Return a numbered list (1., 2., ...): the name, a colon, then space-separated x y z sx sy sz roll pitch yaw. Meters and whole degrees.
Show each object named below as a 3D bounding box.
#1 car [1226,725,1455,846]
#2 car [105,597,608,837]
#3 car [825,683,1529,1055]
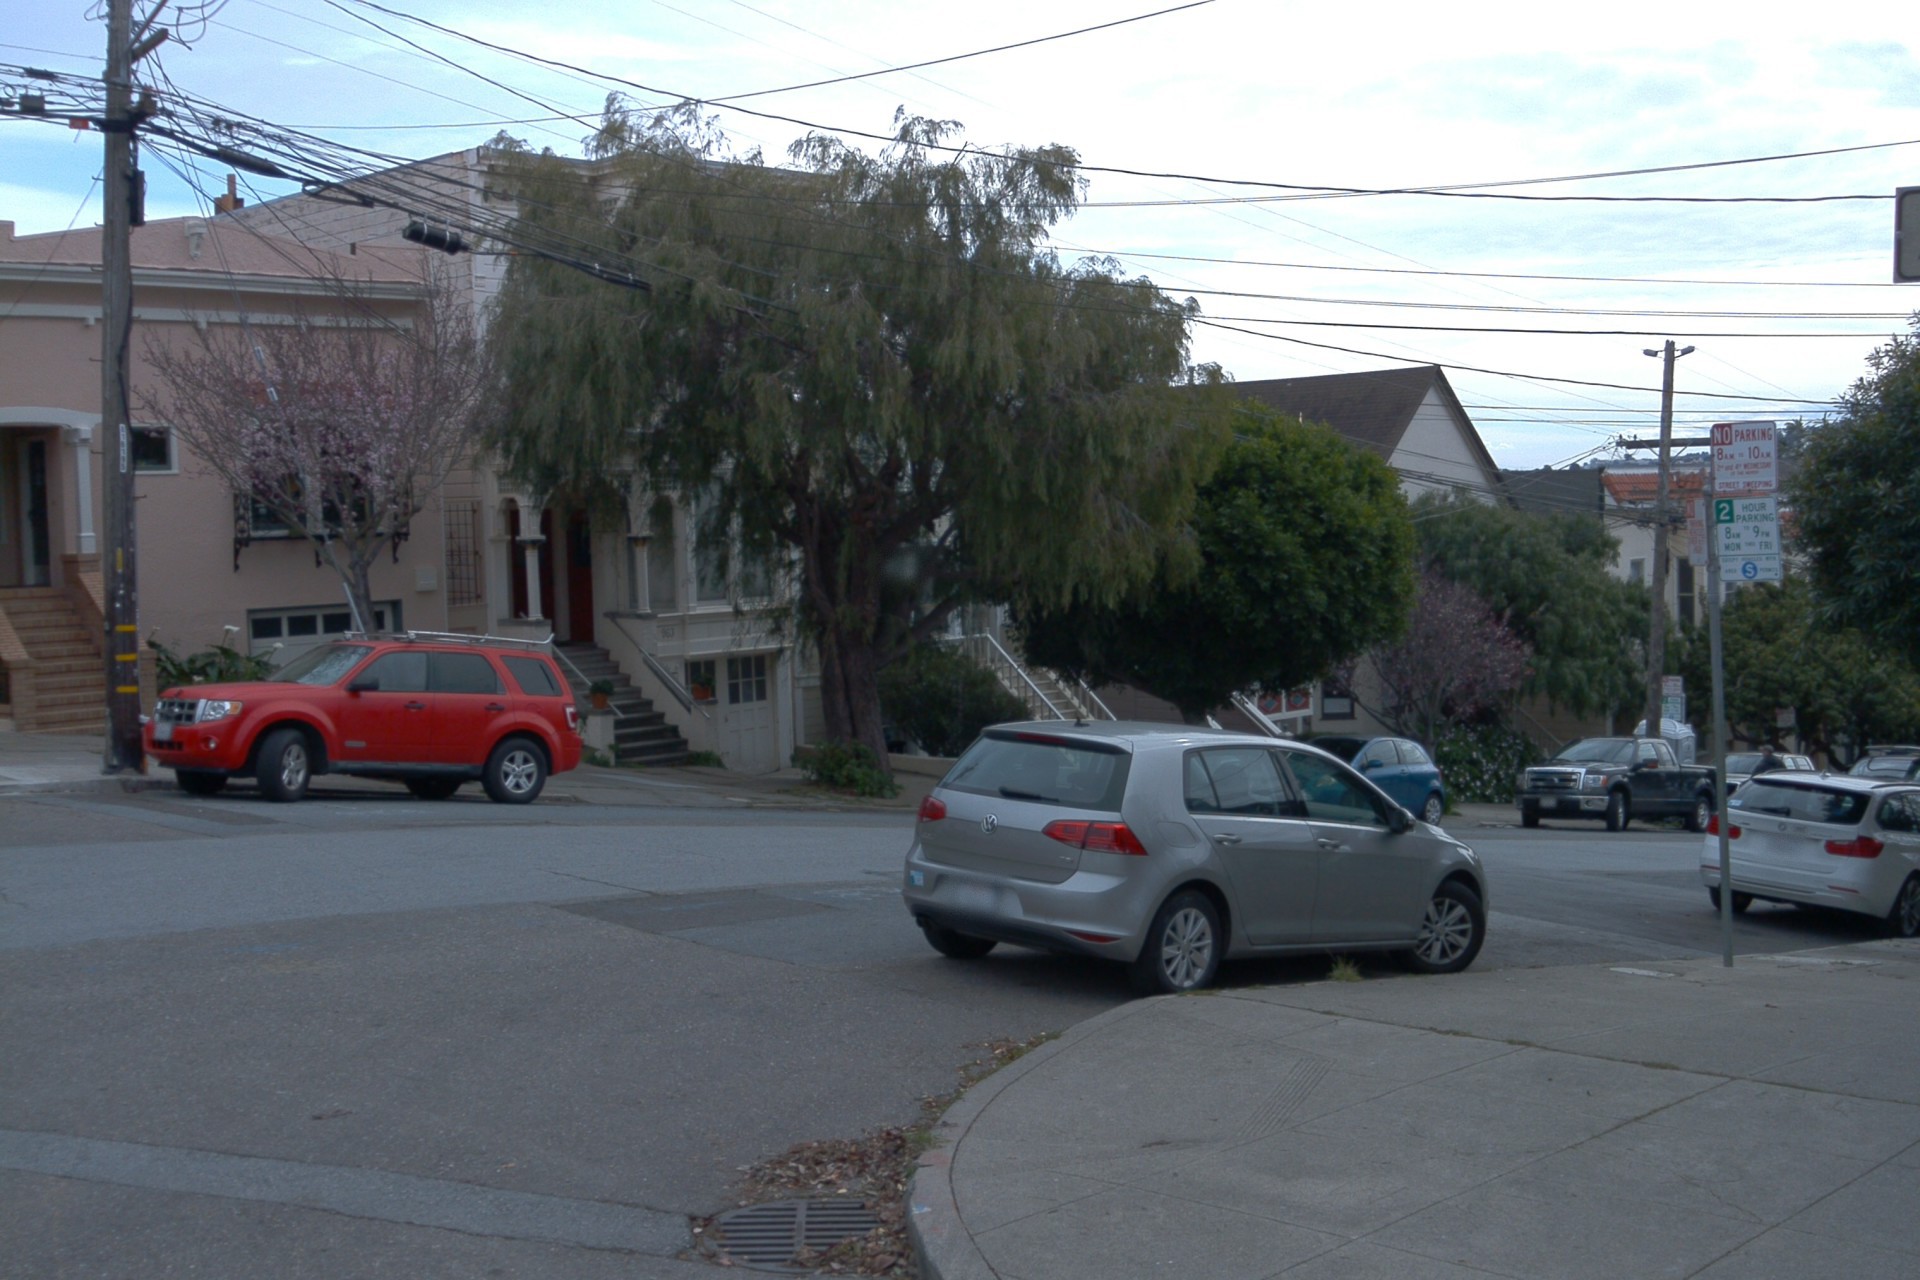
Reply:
1. car: 6.300 2.330 33.599 1.954 1.685 3.776 2 1 43
2. car: -6.094 0.709 21.004 2.106 2.180 4.456 2 1 44
3. car: 1.431 1.164 12.216 2.126 1.720 4.090 2 1 43
